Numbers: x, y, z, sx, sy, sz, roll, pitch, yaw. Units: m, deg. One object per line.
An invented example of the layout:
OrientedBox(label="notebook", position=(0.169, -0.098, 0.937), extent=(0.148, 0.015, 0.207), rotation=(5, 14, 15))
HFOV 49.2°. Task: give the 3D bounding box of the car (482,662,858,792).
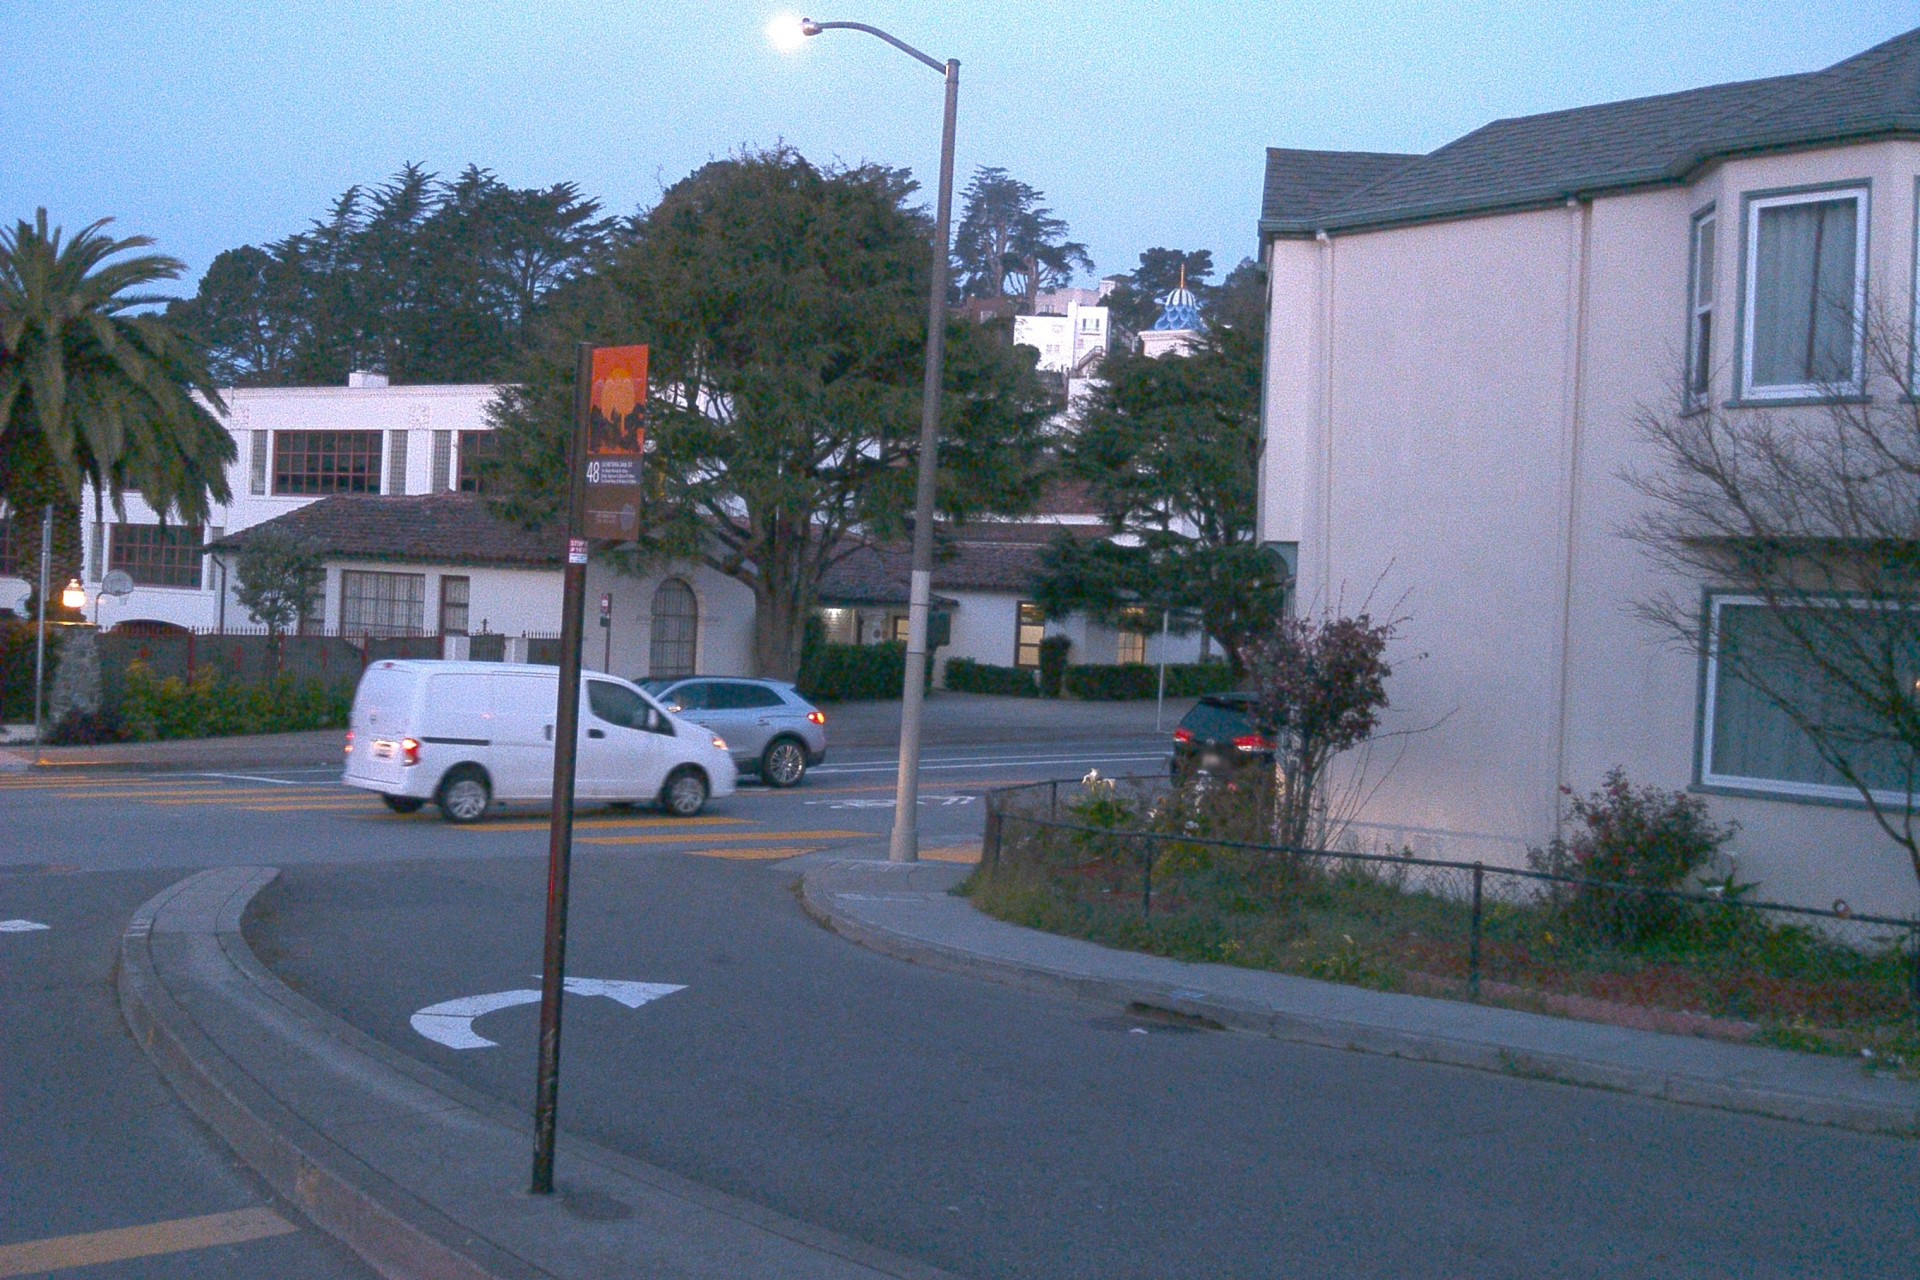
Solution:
OrientedBox(label="car", position=(-4.179, 1.202, 30.665), extent=(5.027, 1.730, 2.150), rotation=(1, 0, -39))

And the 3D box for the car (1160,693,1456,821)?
OrientedBox(label="car", position=(5.027, 1.626, 30.201), extent=(3.819, 1.660, 2.058), rotation=(1, 0, -34))

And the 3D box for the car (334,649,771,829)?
OrientedBox(label="car", position=(-4.922, 1.128, 25.715), extent=(4.816, 2.000, 2.113), rotation=(1, 0, -40))
